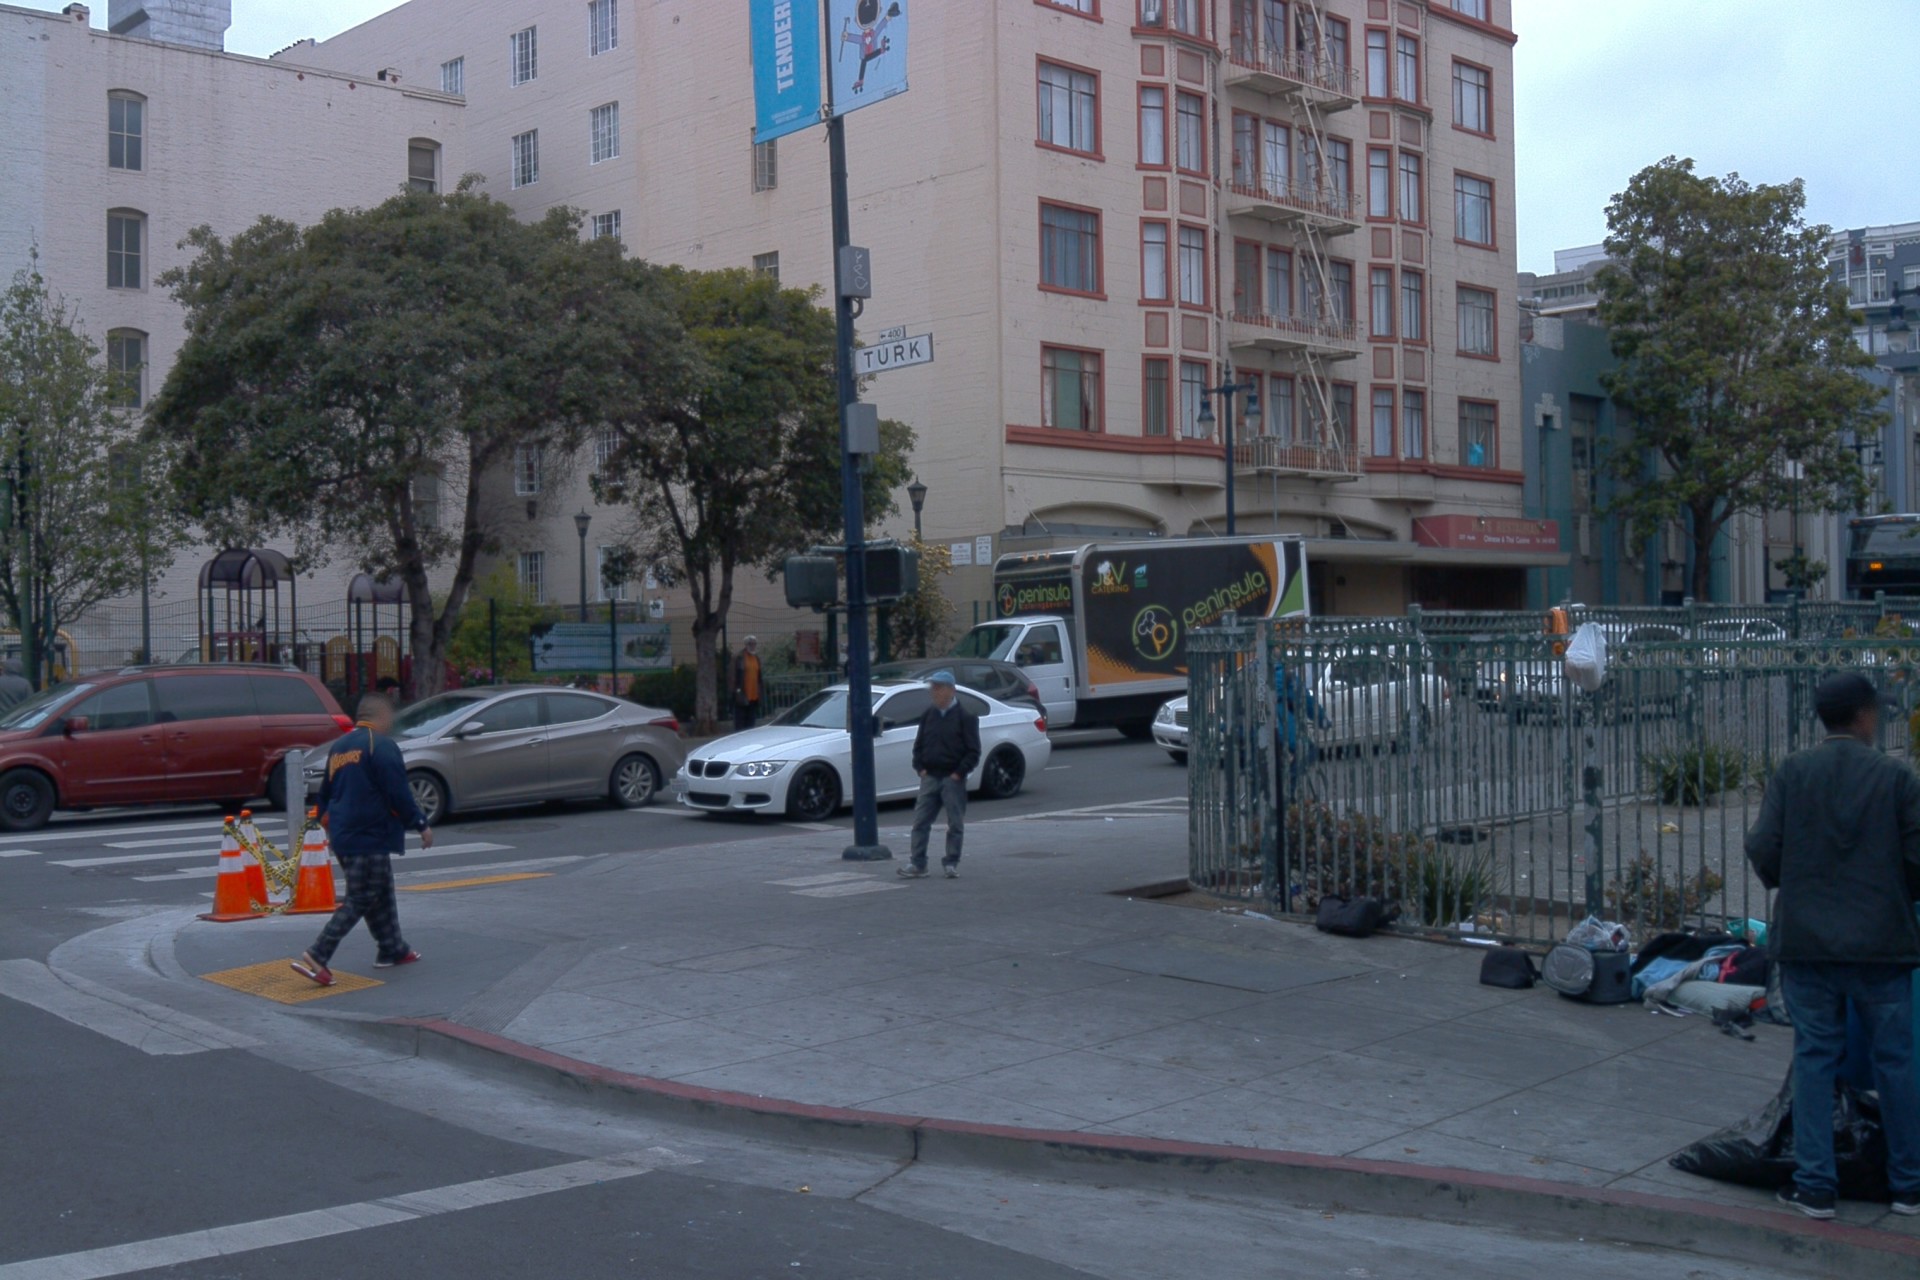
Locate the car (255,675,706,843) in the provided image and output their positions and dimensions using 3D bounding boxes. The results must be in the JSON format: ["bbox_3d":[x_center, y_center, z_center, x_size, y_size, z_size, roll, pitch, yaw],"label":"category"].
[{"bbox_3d":[-5.171,1.213,22.677,4.454,1.540,1.957,-1,1,-44],"label":"car"}]

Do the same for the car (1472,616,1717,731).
[{"bbox_3d":[10.676,0.502,34.584,4.436,1.810,2.035,-1,1,-44],"label":"car"}]

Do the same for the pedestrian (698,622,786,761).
[{"bbox_3d":[-3.550,0.814,33.601,1.047,2.200,1.032,-1,1,-35],"label":"pedestrian"}]

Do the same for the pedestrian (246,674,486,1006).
[{"bbox_3d":[-3.480,1.118,12.107,0.913,1.800,1.028,1,1,45],"label":"pedestrian"}]

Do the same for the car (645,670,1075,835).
[{"bbox_3d":[-1.004,1.143,22.722,4.584,1.520,1.930,-1,1,-44],"label":"car"}]

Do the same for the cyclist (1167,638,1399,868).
[{"bbox_3d":[2.667,0.864,16.905,1.014,1.750,1.949,0,1,40],"label":"cyclist"}]

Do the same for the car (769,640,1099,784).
[{"bbox_3d":[-0.275,0.883,27.477,4.317,1.730,1.853,-1,1,-45],"label":"car"}]

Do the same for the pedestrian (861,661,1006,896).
[{"bbox_3d":[-0.189,0.998,15.389,0.781,1.670,0.793,0,1,31],"label":"pedestrian"}]

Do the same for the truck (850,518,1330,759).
[{"bbox_3d":[2.119,-0.052,32.365,7.105,3.420,2.934,0,1,-32],"label":"truck"}]

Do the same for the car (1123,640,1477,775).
[{"bbox_3d":[4.709,0.836,28.117,5.013,1.630,2.224,-1,1,-44],"label":"car"}]
